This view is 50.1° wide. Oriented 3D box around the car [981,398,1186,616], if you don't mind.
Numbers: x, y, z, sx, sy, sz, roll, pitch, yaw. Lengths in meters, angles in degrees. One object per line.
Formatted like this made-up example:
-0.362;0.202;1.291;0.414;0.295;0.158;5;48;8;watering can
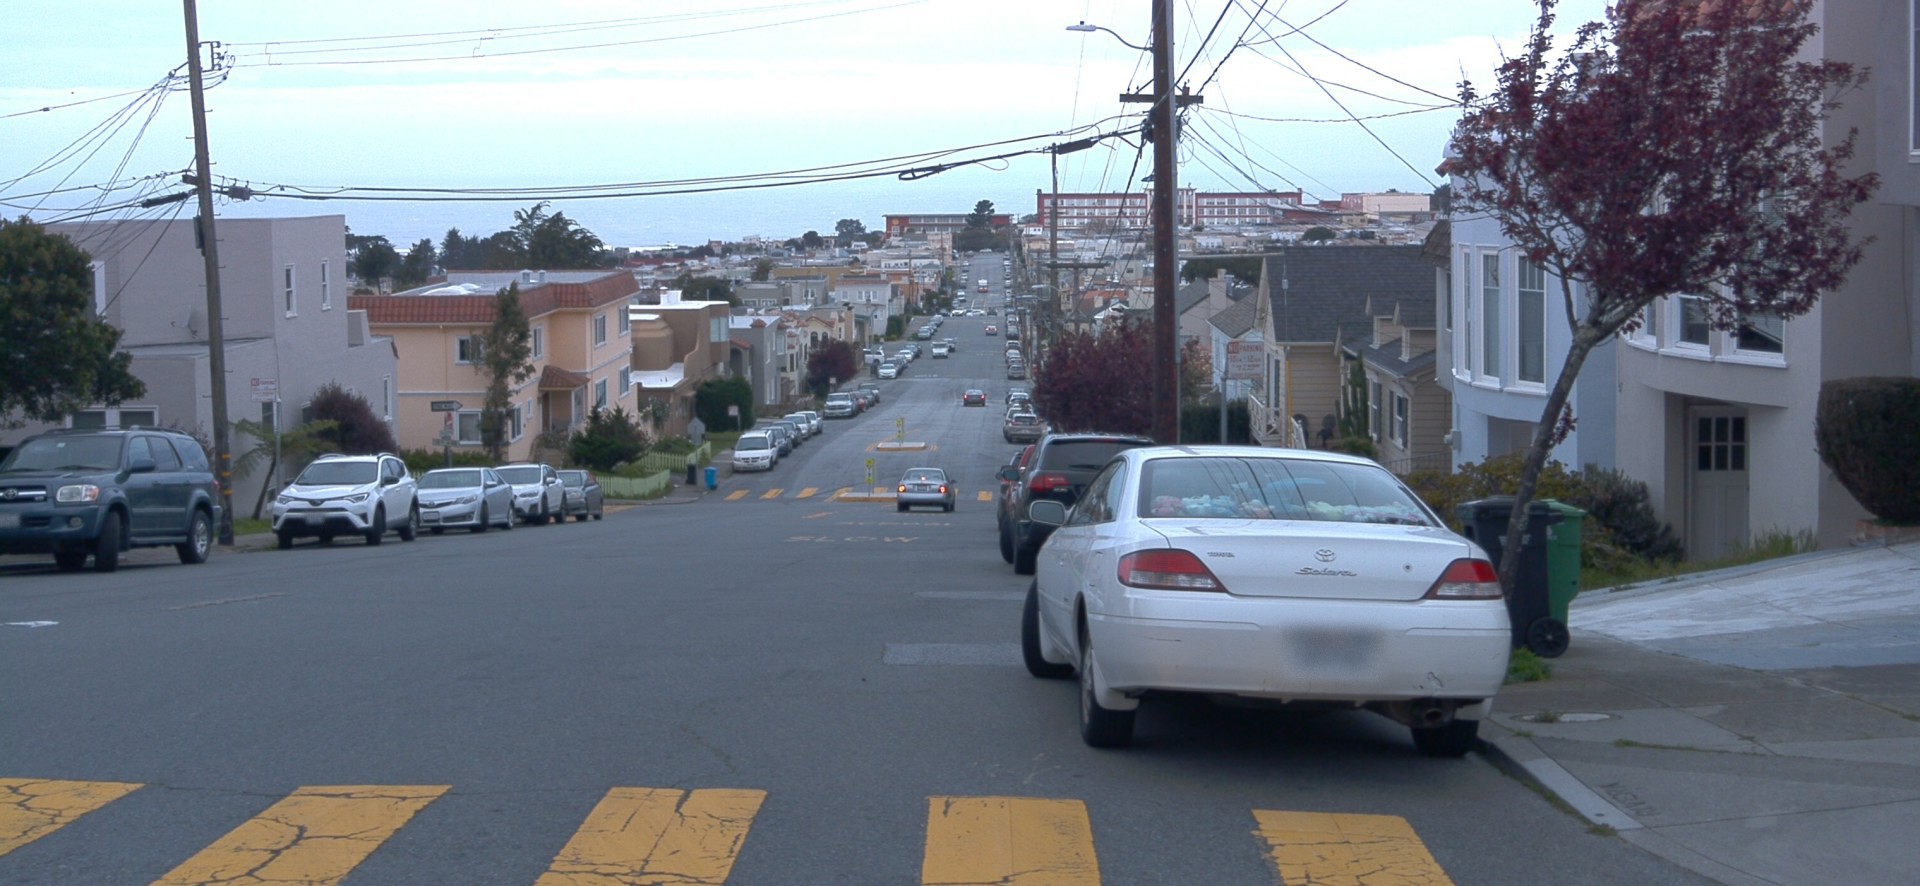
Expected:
1.485;0.677;25.704;2.320;2.102;4.521;0;5;2;car

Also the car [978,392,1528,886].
1.202;0.777;10.589;2.043;1.703;4.713;0;5;-2;car
